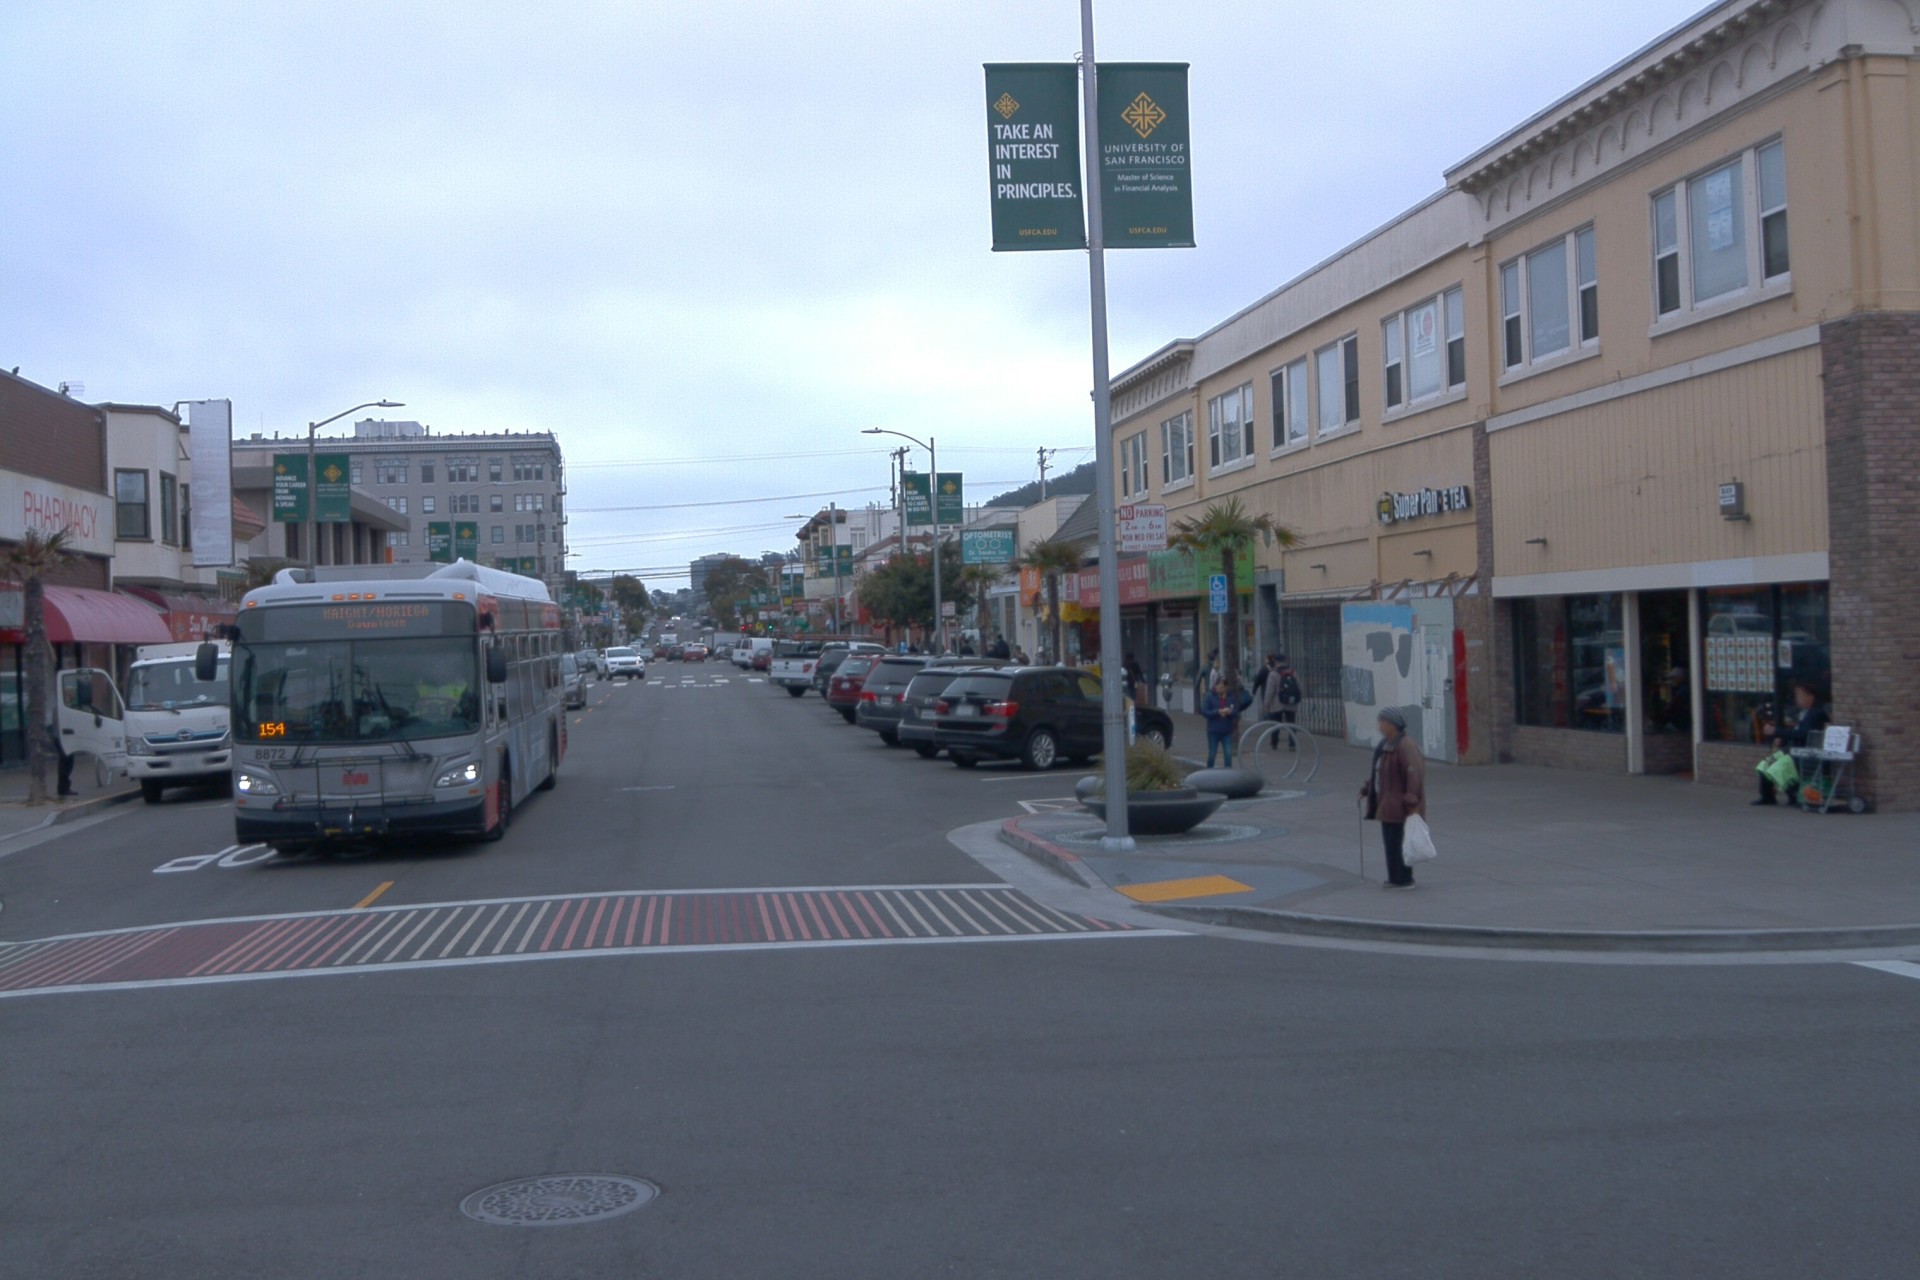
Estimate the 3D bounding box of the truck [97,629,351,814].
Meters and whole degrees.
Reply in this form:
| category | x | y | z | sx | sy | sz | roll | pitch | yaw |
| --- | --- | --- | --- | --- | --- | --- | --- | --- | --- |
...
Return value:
| category | x | y | z | sx | sy | sz | roll | pitch | yaw |
| --- | --- | --- | --- | --- | --- | --- | --- | --- | --- |
| truck | -12.384 | 1.226 | 35.274 | 2.558 | 2.730 | 7.416 | 0 | 1 | -7 |

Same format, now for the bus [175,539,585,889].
| category | x | y | z | sx | sy | sz | roll | pitch | yaw |
| --- | --- | --- | --- | --- | --- | --- | --- | --- | --- |
| bus | -6.938 | 0.627 | 26.871 | 3.210 | 3.480 | 12.609 | 0 | 1 | -7 |

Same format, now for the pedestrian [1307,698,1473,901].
| category | x | y | z | sx | sy | sz | roll | pitch | yaw |
| --- | --- | --- | --- | --- | --- | --- | --- | --- | --- |
| pedestrian | 3.372 | 1.226 | 16.196 | 0.827 | 1.477 | 1.073 | -1 | 1 | -21 |

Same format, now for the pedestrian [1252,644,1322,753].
| category | x | y | z | sx | sy | sz | roll | pitch | yaw |
| --- | --- | --- | --- | --- | --- | --- | --- | --- | --- |
| pedestrian | 5.464 | 0.965 | 34.417 | 0.922 | 1.770 | 0.951 | 0 | 1 | -7 |

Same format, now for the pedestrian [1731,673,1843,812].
| category | x | y | z | sx | sy | sz | roll | pitch | yaw |
| --- | --- | --- | --- | --- | --- | --- | --- | --- | --- |
| pedestrian | 8.577 | 1.051 | 21.350 | 0.739 | 1.374 | 0.873 | 0 | 1 | -7 |

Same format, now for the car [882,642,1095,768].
| category | x | y | z | sx | sy | sz | roll | pitch | yaw |
| --- | --- | --- | --- | --- | --- | --- | --- | --- | --- |
| car | 0.546 | 1.099 | 36.400 | 1.761 | 2.040 | 3.671 | 1 | 1 | 43 |

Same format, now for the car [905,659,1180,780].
| category | x | y | z | sx | sy | sz | roll | pitch | yaw |
| --- | --- | --- | --- | --- | --- | --- | --- | --- | --- |
| car | 1.426 | 1.255 | 34.074 | 2.044 | 1.740 | 4.509 | 1 | 1 | 45 |

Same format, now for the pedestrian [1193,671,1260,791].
| category | x | y | z | sx | sy | sz | roll | pitch | yaw |
| --- | --- | --- | --- | --- | --- | --- | --- | --- | --- |
| pedestrian | 3.654 | 1.238 | 28.281 | 0.747 | 1.598 | 0.778 | 0 | 1 | -6 |
